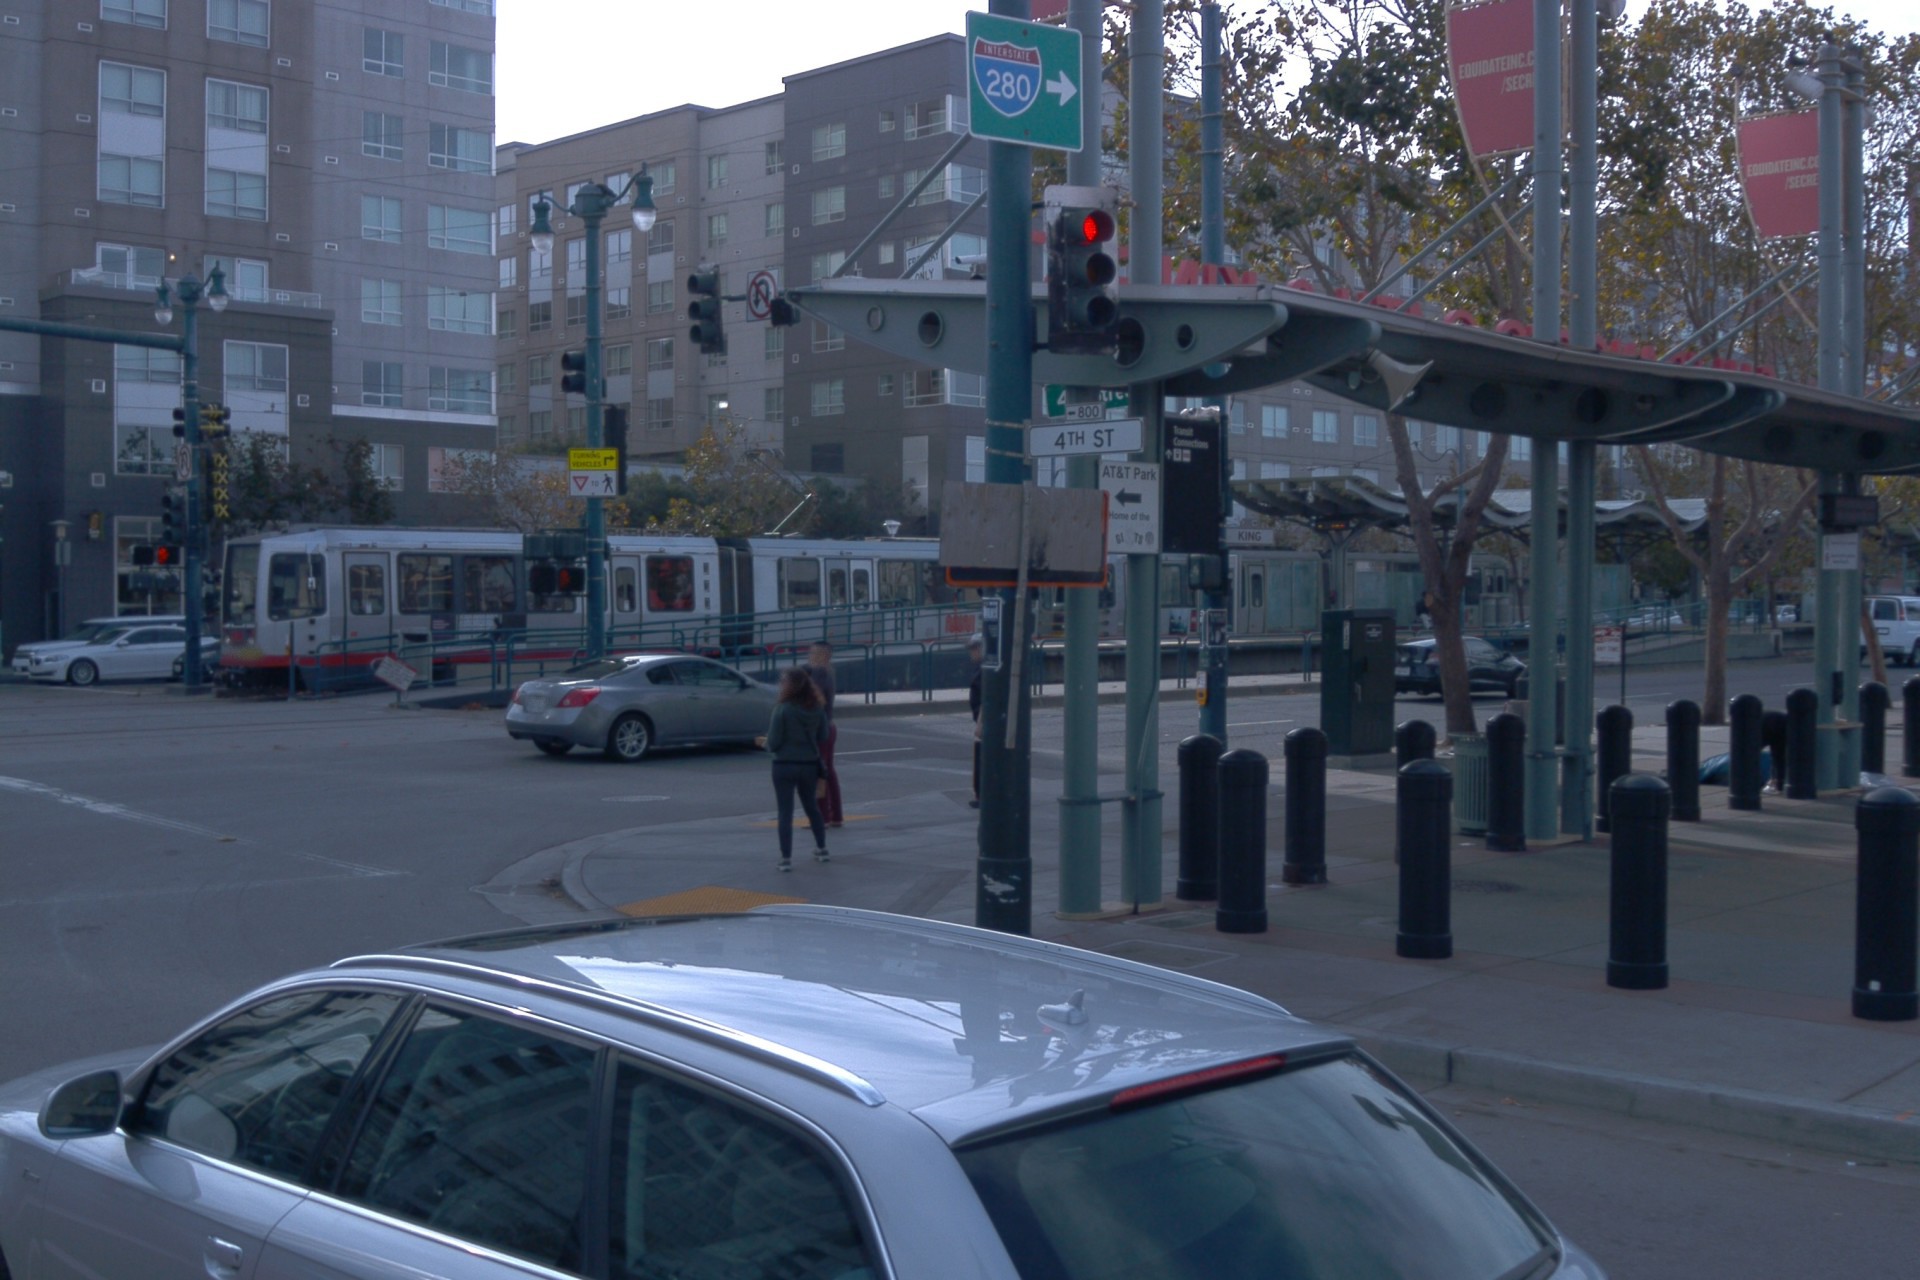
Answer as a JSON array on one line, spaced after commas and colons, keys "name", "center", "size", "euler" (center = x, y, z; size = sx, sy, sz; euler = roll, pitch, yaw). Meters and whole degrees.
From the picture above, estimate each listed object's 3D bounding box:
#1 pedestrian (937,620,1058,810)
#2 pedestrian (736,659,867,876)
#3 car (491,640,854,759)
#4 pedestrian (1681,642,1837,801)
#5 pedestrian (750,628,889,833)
[{"name": "pedestrian", "center": [0.381, 0.735, 20.824], "size": [0.867, 1.858, 0.865], "euler": [1, 0, 31]}, {"name": "pedestrian", "center": [-1.270, 0.986, 16.443], "size": [0.678, 1.642, 1.016], "euler": [1, 0, -27]}, {"name": "car", "center": [-3.890, 0.784, 28.637], "size": [2.021, 1.488, 4.719], "euler": [1, 0, 44]}, {"name": "pedestrian", "center": [8.356, 0.833, 21.712], "size": [1.169, 1.605, 1.218], "euler": [1, 0, 2]}, {"name": "pedestrian", "center": [-1.283, 0.809, 19.053], "size": [0.980, 1.819, 0.928], "euler": [1, 0, 17]}]
